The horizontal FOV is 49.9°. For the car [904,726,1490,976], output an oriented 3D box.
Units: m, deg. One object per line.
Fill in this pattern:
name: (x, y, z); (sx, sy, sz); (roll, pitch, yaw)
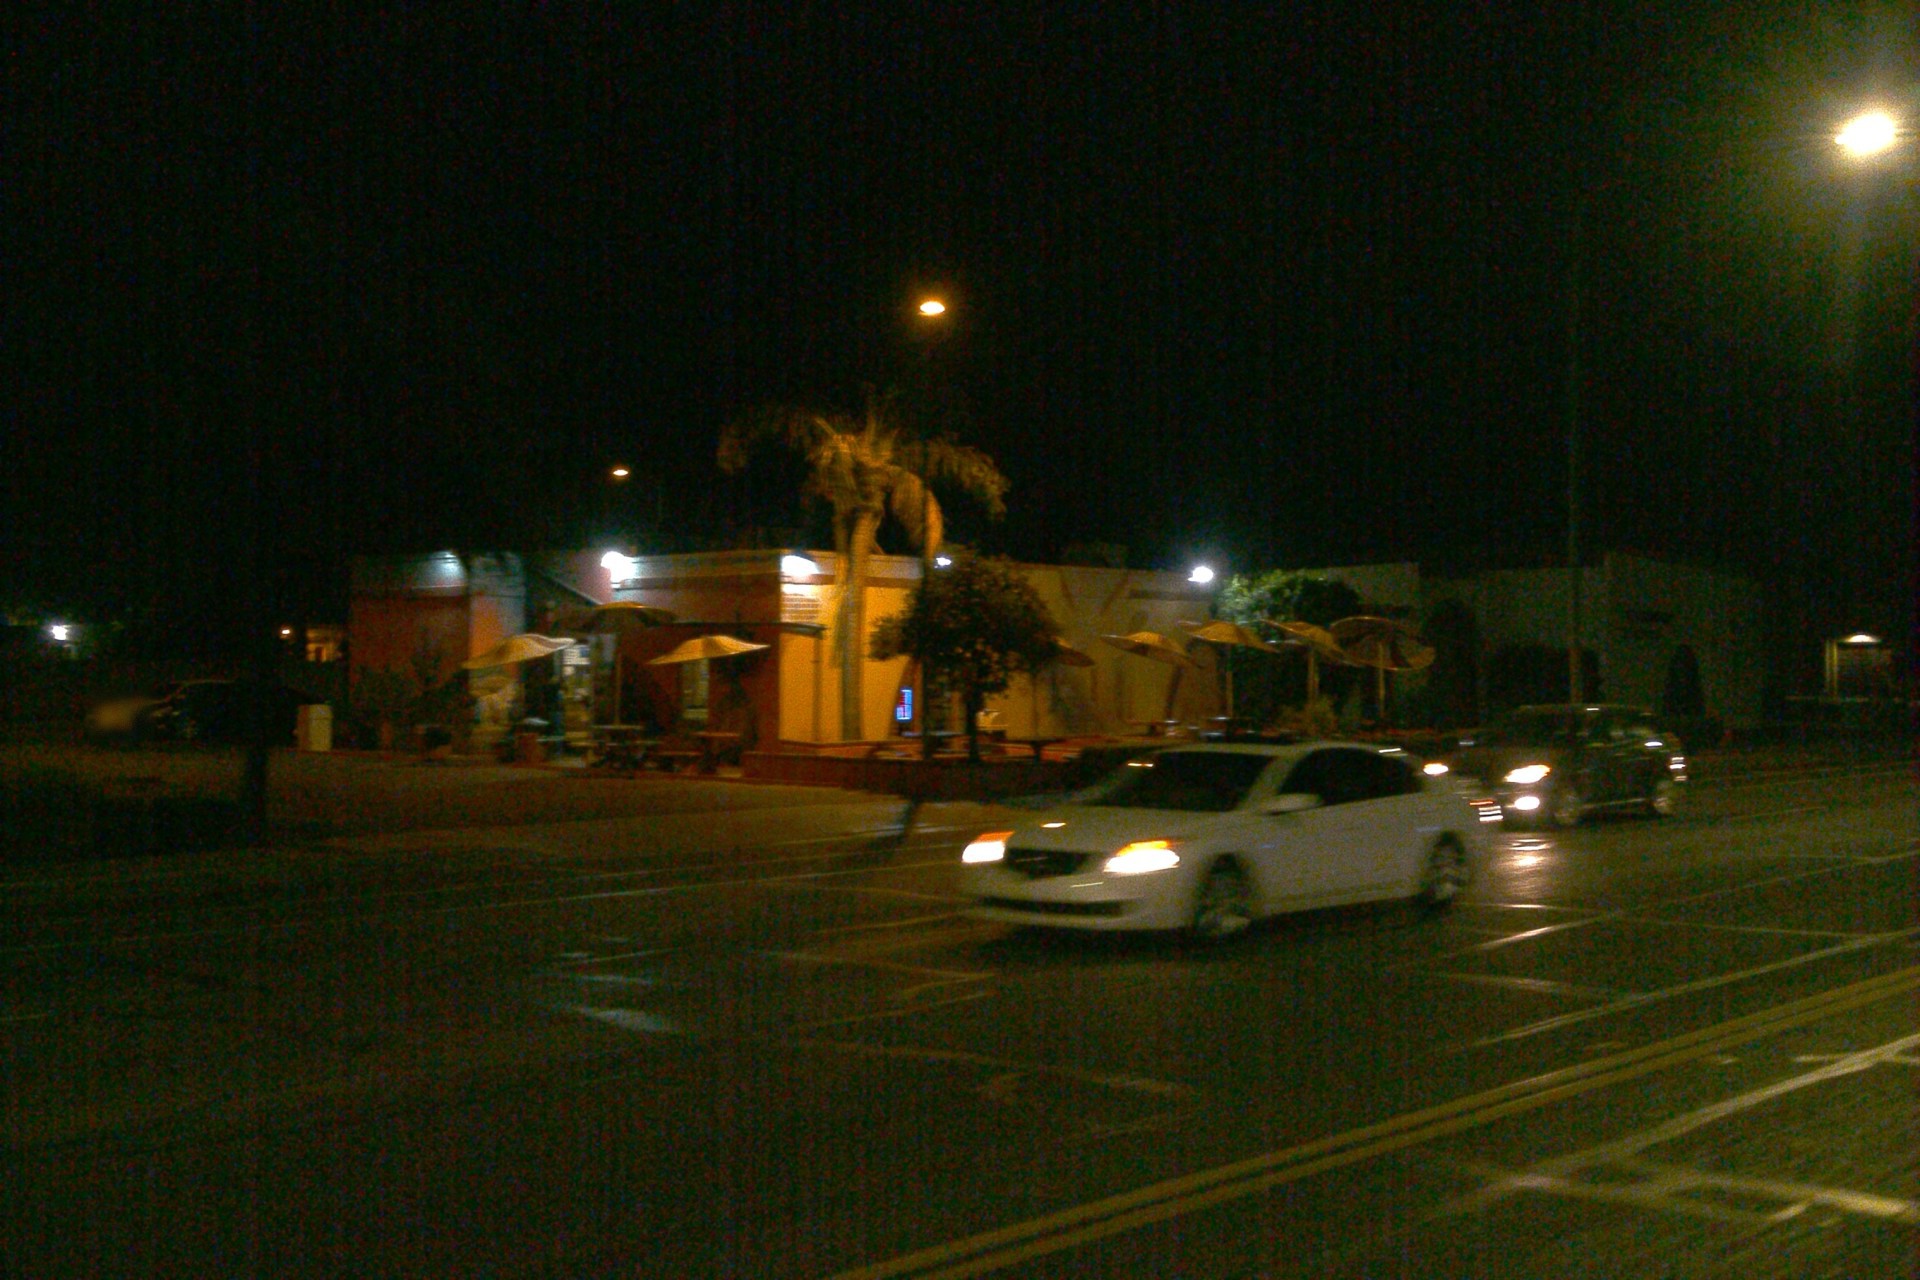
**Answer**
car: (1.968, 1.483, 15.886); (2.010, 1.470, 4.702); (1, 0, 44)

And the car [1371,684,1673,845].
car: (7.373, 1.531, 26.789); (1.909, 1.850, 4.314); (1, 0, 44)
